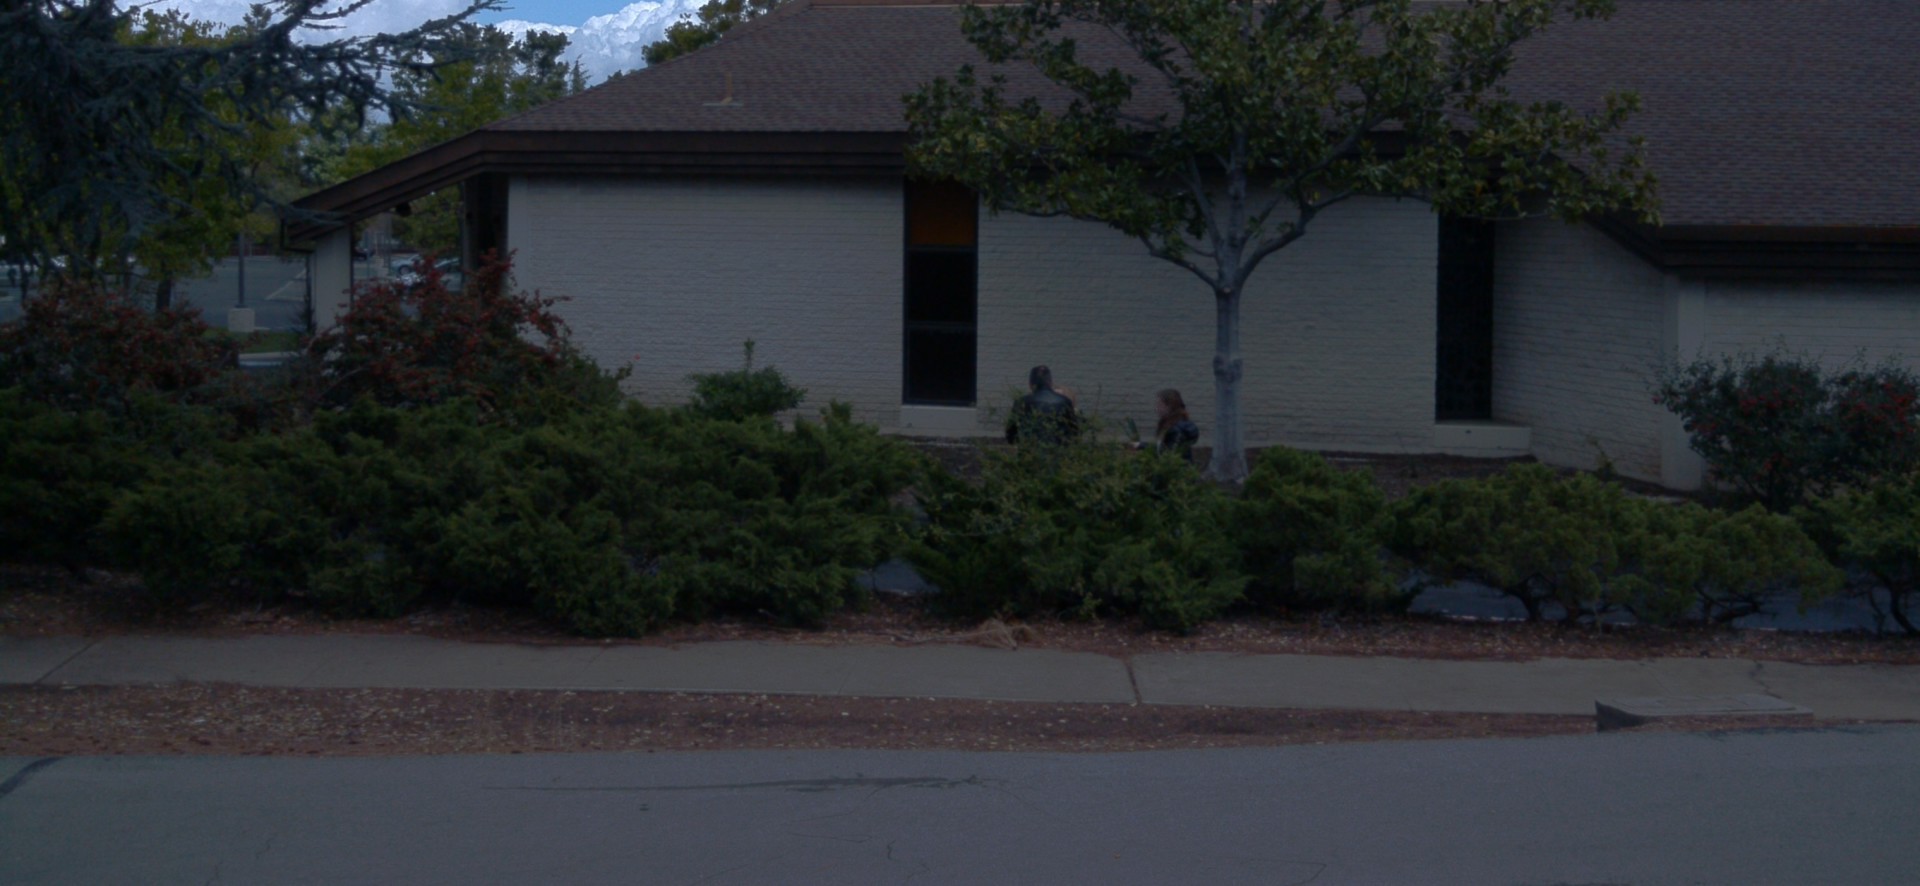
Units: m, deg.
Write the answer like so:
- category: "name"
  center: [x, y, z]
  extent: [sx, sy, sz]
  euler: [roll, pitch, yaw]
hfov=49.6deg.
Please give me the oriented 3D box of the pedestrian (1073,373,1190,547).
- category: "pedestrian"
  center: [1.431, 0.125, 17.497]
  extent: [0.835, 1.370, 0.873]
  euler: [0, 1, -5]

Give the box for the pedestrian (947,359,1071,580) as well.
- category: "pedestrian"
  center: [0.414, 0.190, 17.077]
  extent: [0.894, 1.690, 0.947]
  euler: [1, 1, 8]
